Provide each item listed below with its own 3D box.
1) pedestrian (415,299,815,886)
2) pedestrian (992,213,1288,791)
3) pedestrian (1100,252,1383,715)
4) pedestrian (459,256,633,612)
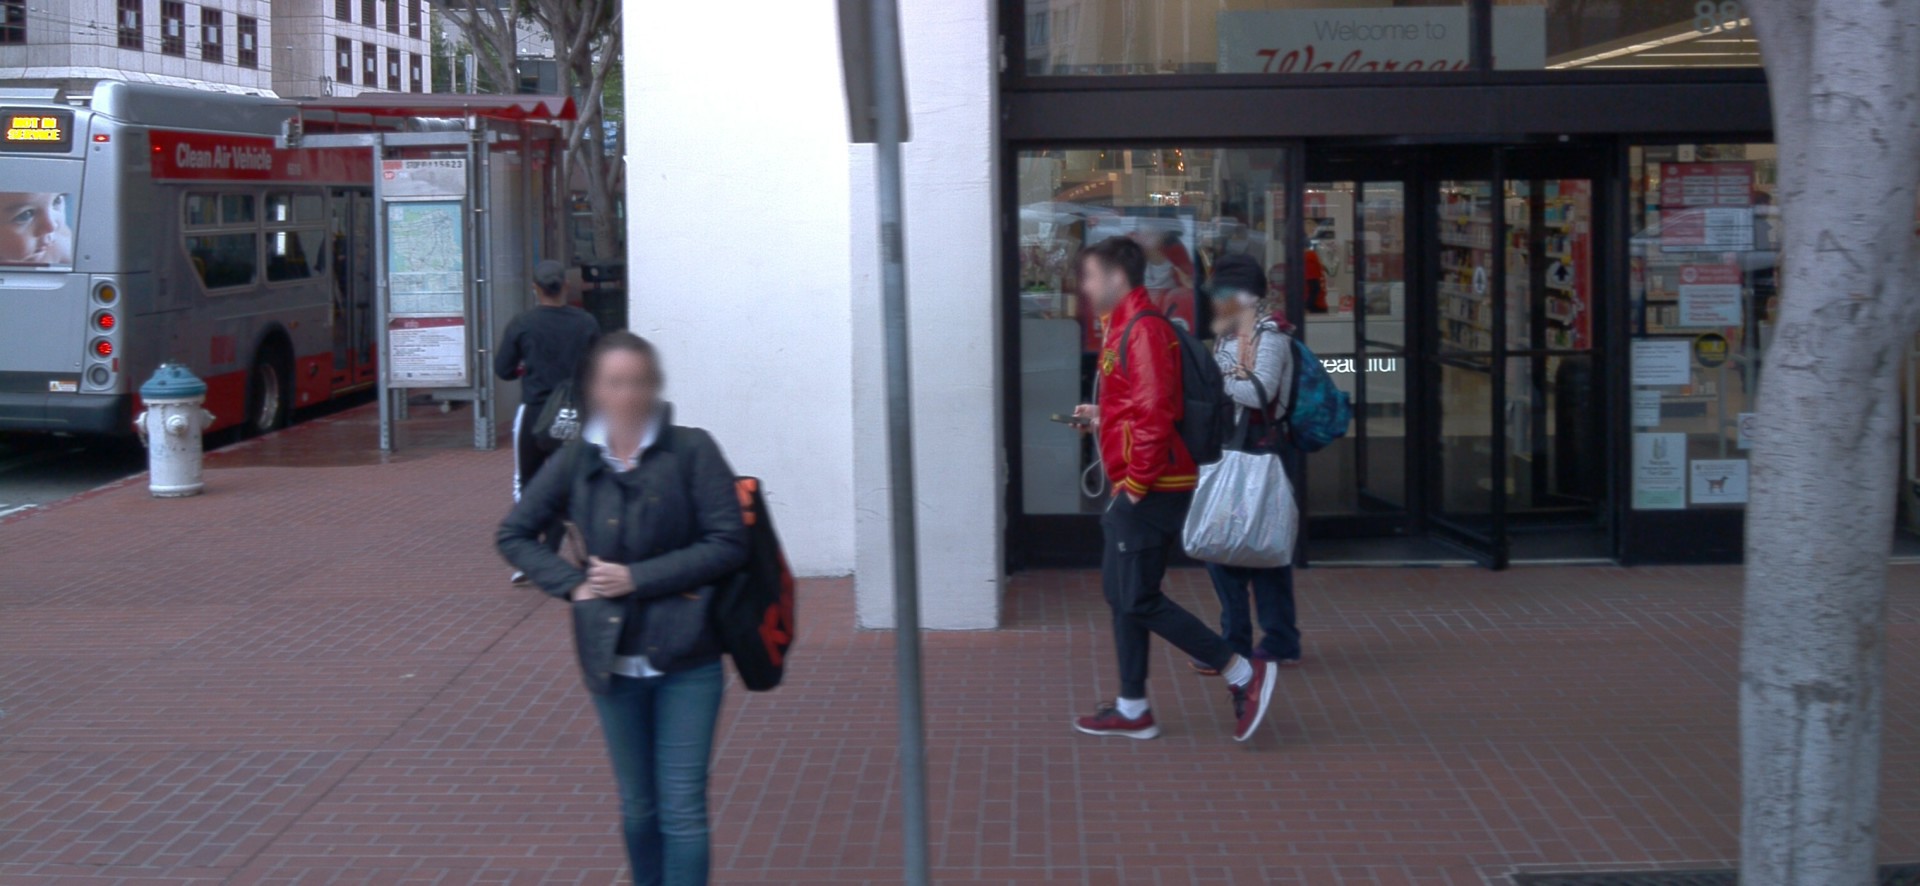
[{"bbox_3d":[-0.817,0.512,5.126,0.835,1.715,0.901,0,1,1],"label":"pedestrian"},{"bbox_3d":[0.646,0.151,7.164,0.978,1.895,0.717,0,1,8],"label":"pedestrian"},{"bbox_3d":[1.080,0.104,8.127,0.980,1.715,0.965,0,2,-1],"label":"pedestrian"},{"bbox_3d":[-2.053,-0.091,10.127,0.697,1.655,0.865,0,1,-22],"label":"pedestrian"}]
